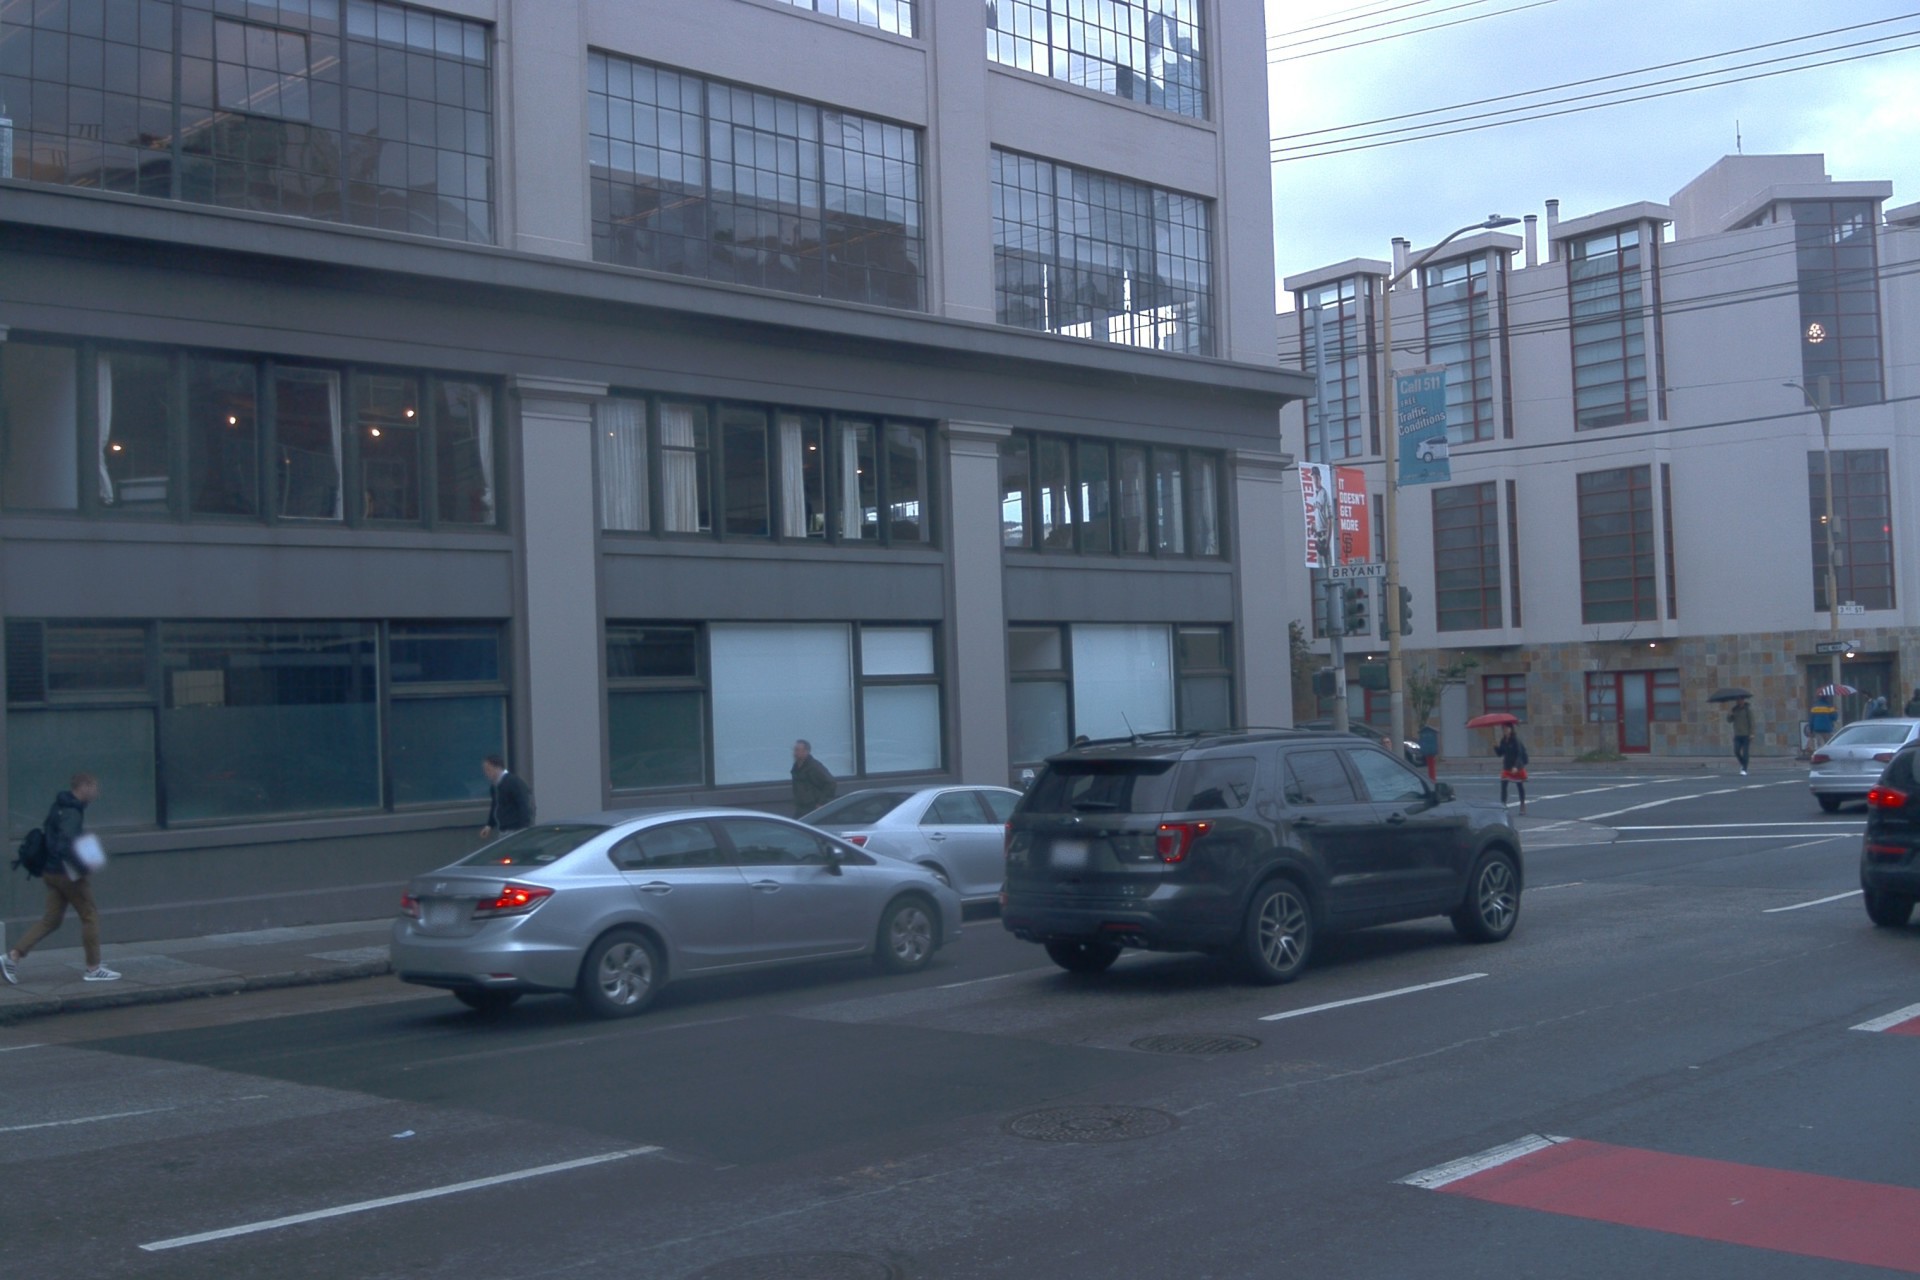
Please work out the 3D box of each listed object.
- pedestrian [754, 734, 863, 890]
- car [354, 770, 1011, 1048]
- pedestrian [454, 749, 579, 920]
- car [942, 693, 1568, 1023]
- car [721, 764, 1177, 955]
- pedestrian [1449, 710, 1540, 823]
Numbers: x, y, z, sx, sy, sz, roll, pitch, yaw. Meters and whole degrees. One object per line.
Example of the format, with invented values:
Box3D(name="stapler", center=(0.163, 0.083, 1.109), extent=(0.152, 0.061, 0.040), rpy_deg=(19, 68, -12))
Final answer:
Box3D(name="pedestrian", center=(-1.858, 2.080, 25.479), extent=(0.851, 1.800, 1.024), rpy_deg=(0, 0, 44))
Box3D(name="car", center=(-1.952, 1.886, 15.829), extent=(2.025, 1.500, 4.729), rpy_deg=(0, 0, 44))
Box3D(name="pedestrian", center=(-4.848, 2.099, 22.740), extent=(0.838, 1.740, 1.041), rpy_deg=(0, 0, 44))
Box3D(name="car", center=(2.443, 1.480, 16.105), extent=(2.226, 2.020, 5.094), rpy_deg=(0, 0, 44))
Box3D(name="car", center=(-0.004, 2.277, 22.669), extent=(2.014, 1.570, 4.989), rpy_deg=(0, 0, 45))
Box3D(name="pedestrian", center=(9.471, 2.222, 36.858), extent=(1.124, 1.900, 1.157), rpy_deg=(0, 0, 45))
